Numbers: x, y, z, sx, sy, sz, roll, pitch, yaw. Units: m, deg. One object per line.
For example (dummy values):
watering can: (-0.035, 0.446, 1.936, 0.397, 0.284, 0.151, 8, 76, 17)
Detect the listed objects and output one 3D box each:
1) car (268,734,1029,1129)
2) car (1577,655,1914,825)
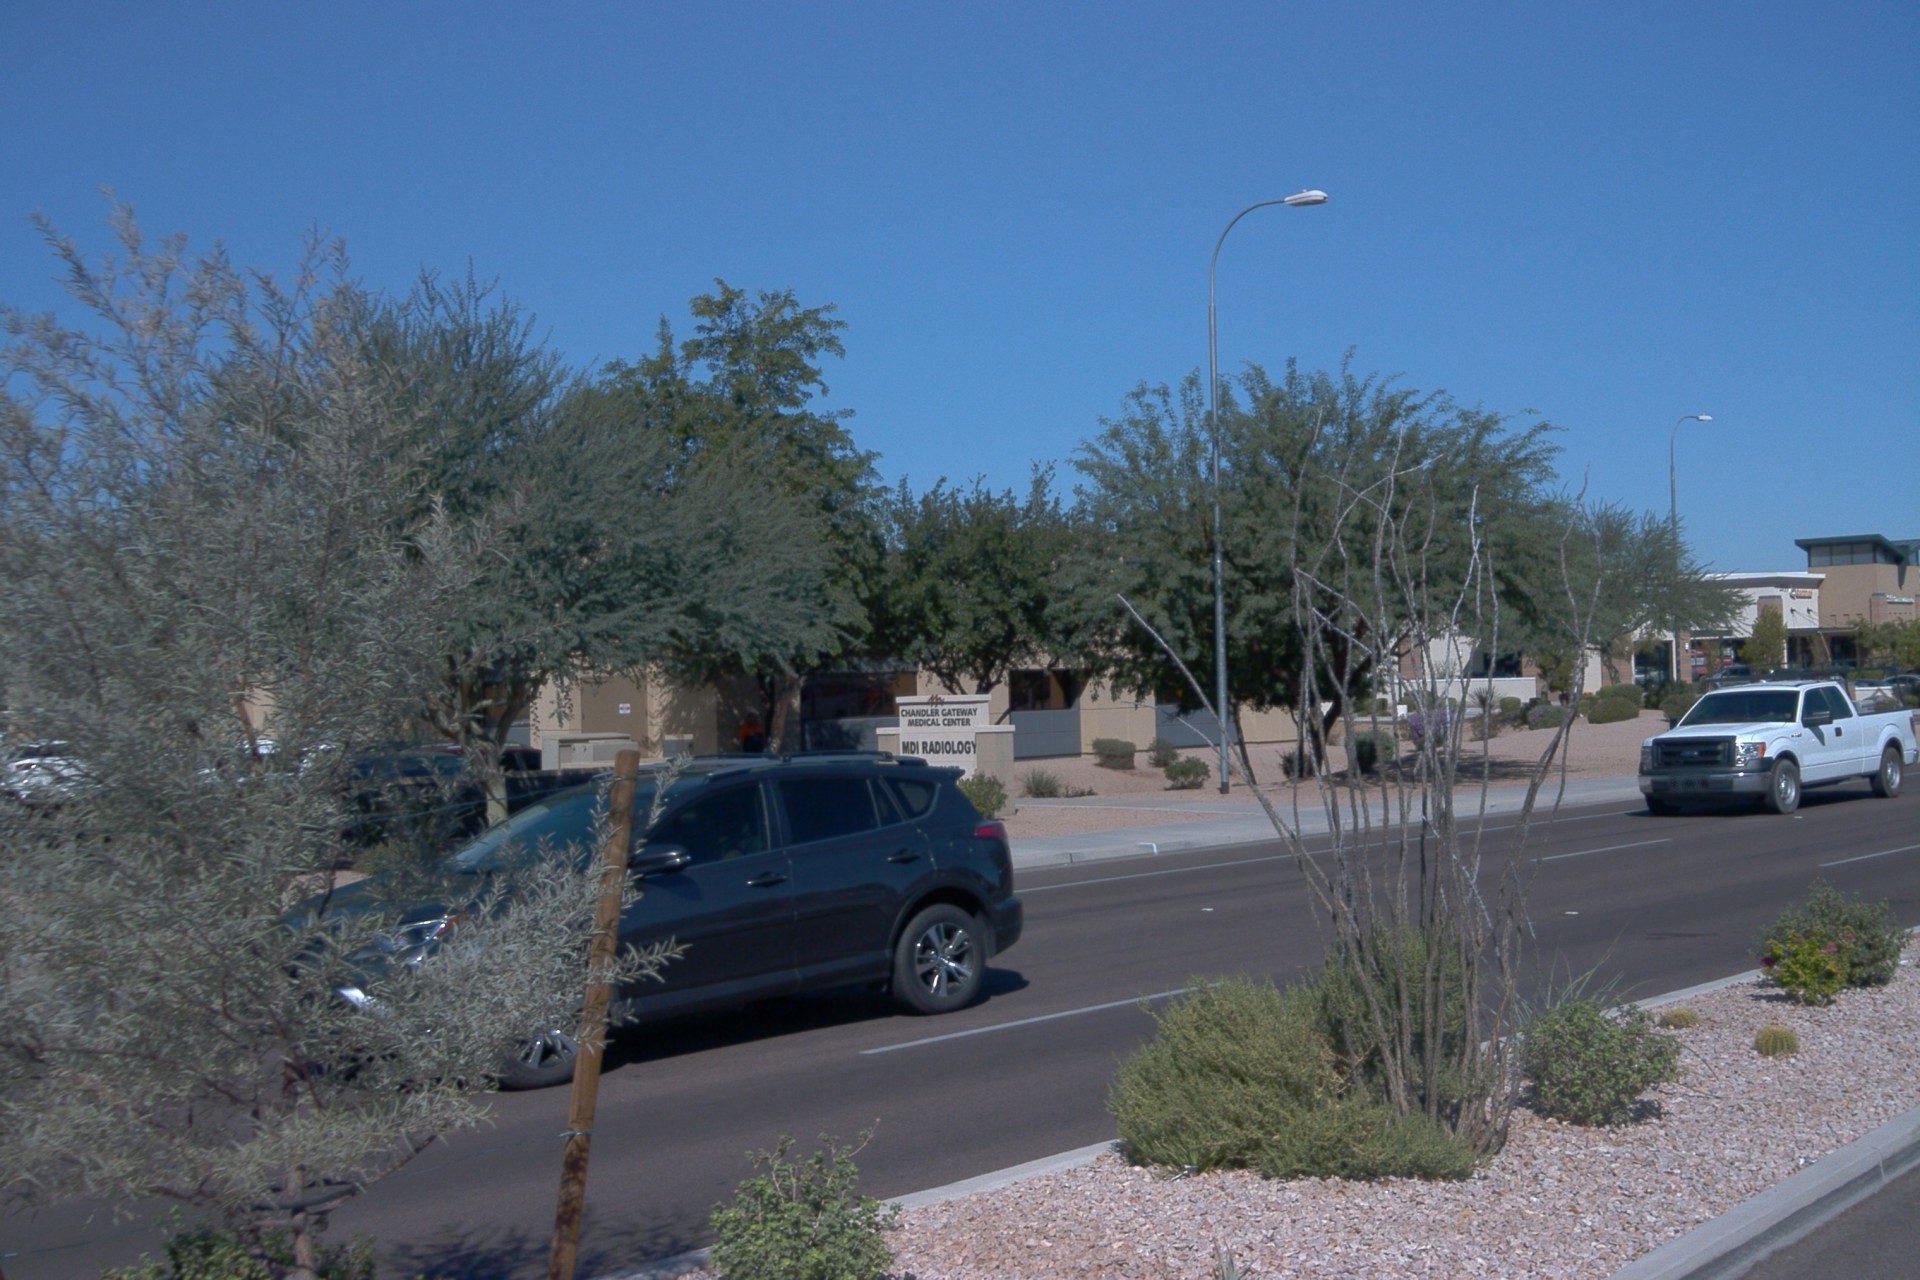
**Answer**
car: (-1.756, 1.580, 12.761, 1.940, 1.800, 4.308, -1, 0, 44)
car: (11.602, 1.348, 30.447, 5.970, 2.200, 2.304, 0, 0, -45)
